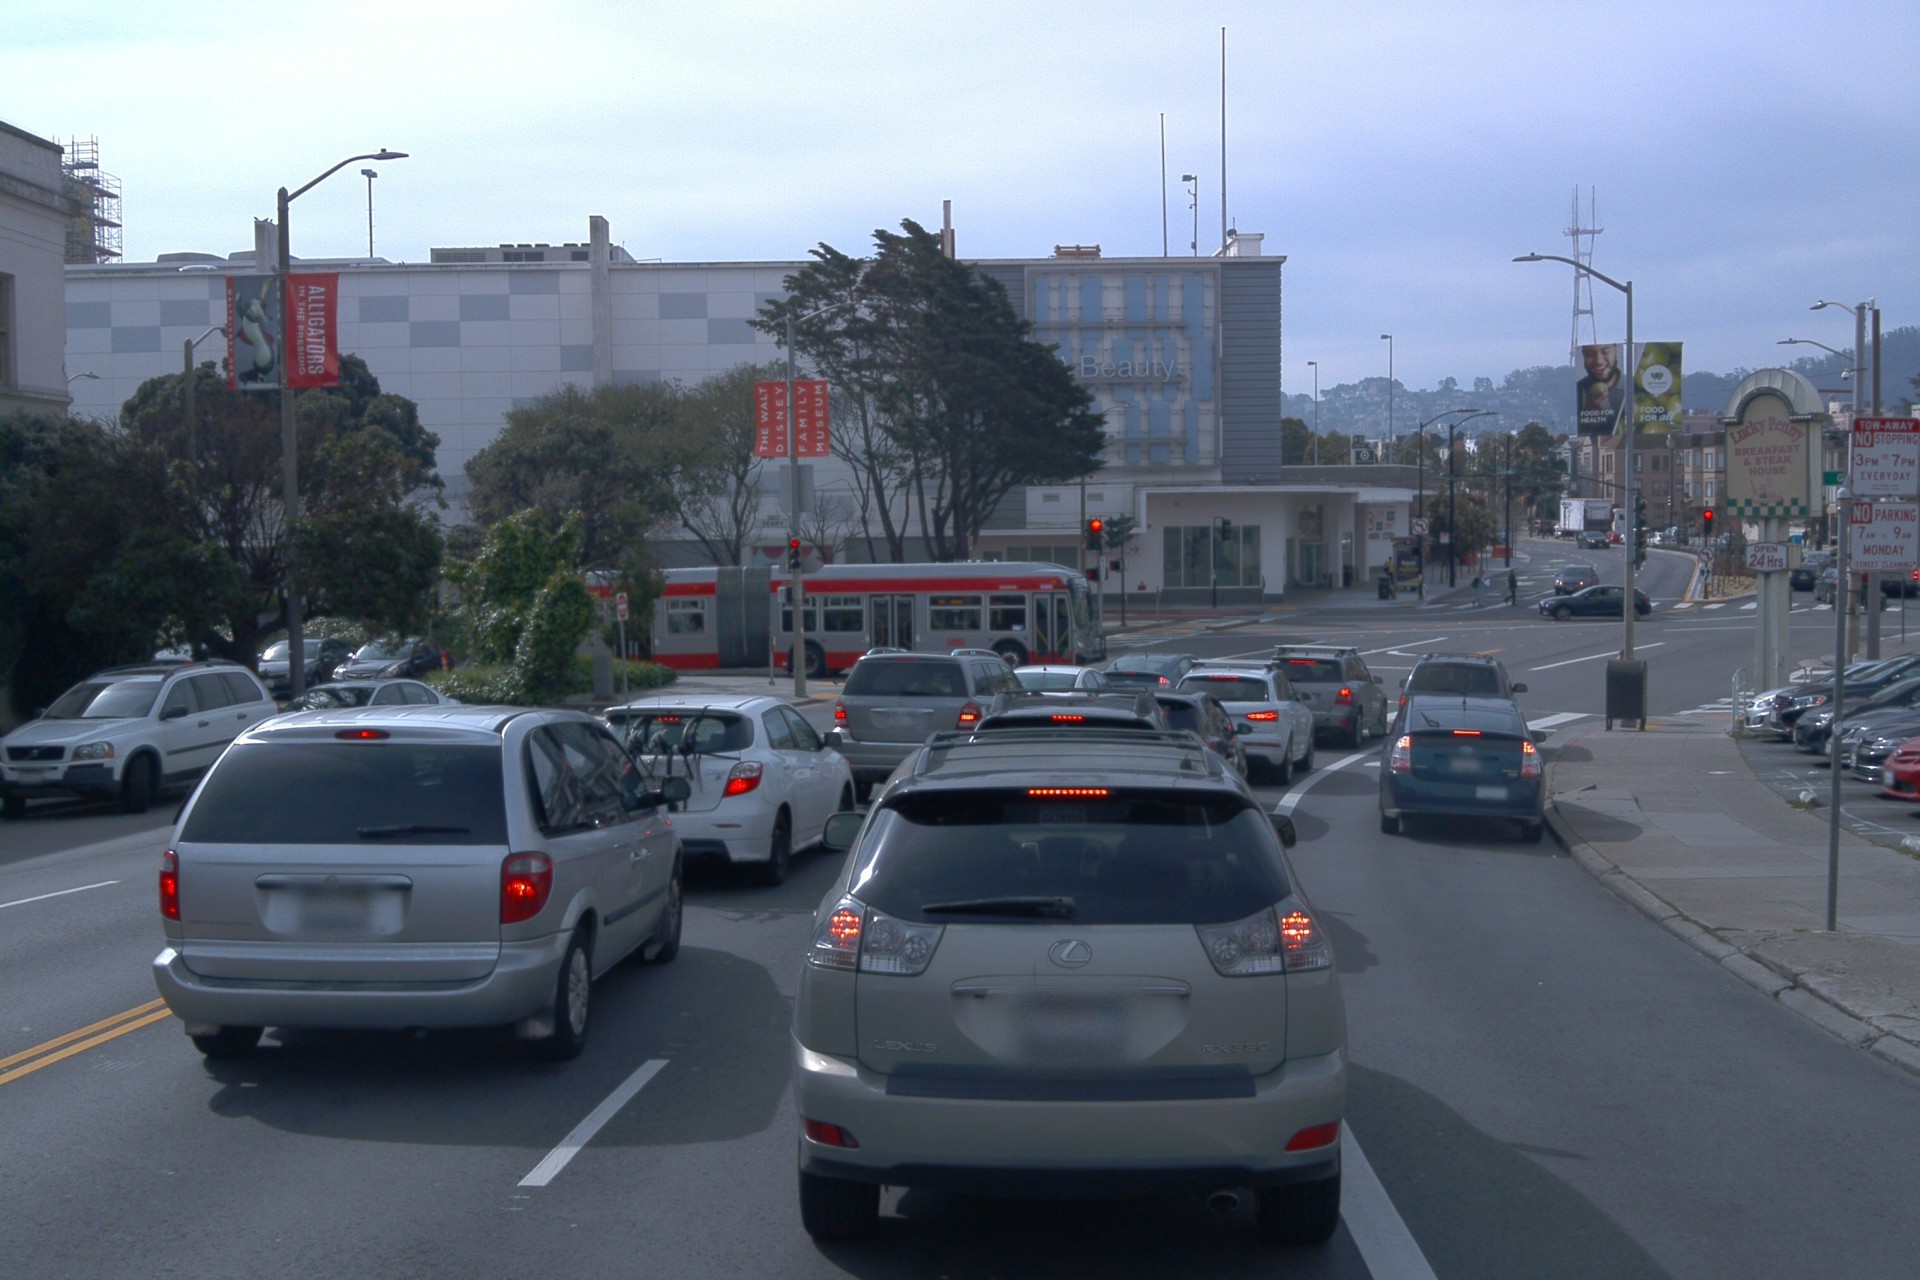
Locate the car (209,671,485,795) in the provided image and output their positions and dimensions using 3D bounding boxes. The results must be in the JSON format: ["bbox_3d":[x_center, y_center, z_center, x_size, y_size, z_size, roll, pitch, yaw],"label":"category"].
[{"bbox_3d":[-9.230,1.347,31.231,1.977,1.640,4.663,1,0,13],"label":"car"}]

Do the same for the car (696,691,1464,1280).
[{"bbox_3d":[0.409,1.169,8.131,2.197,1.780,4.467,1,0,2],"label":"car"}]

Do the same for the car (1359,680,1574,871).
[{"bbox_3d":[5.627,1.419,23.175,2.113,1.790,4.645,1,0,12],"label":"car"}]

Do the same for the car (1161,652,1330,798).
[{"bbox_3d":[4.152,1.139,29.223,1.795,1.880,4.044,1,0,17],"label":"car"}]

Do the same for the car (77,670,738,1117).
[{"bbox_3d":[-2.684,1.136,11.269,2.131,1.830,4.635,1,0,4],"label":"car"}]

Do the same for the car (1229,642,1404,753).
[{"bbox_3d":[6.641,0.978,37.540,2.226,1.850,5.307,1,0,20],"label":"car"}]

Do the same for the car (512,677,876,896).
[{"bbox_3d":[-2.125,1.148,17.681,1.982,1.530,4.306,1,0,9],"label":"car"}]

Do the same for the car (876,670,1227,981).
[{"bbox_3d":[0.854,1.213,15.319,2.119,1.870,4.391,1,0,9],"label":"car"}]

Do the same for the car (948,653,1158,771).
[{"bbox_3d":[1.586,1.081,32.721,2.220,1.670,4.643,1,0,18],"label":"car"}]

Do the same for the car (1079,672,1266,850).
[{"bbox_3d":[2.538,1.312,23.697,1.526,1.780,3.939,1,0,15],"label":"car"}]

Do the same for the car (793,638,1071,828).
[{"bbox_3d":[-0.210,1.042,25.536,2.236,2.100,4.827,1,0,15],"label":"car"}]

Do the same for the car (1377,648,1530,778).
[{"bbox_3d":[8.545,1.167,35.086,2.203,2.020,4.801,1,0,18],"label":"car"}]
